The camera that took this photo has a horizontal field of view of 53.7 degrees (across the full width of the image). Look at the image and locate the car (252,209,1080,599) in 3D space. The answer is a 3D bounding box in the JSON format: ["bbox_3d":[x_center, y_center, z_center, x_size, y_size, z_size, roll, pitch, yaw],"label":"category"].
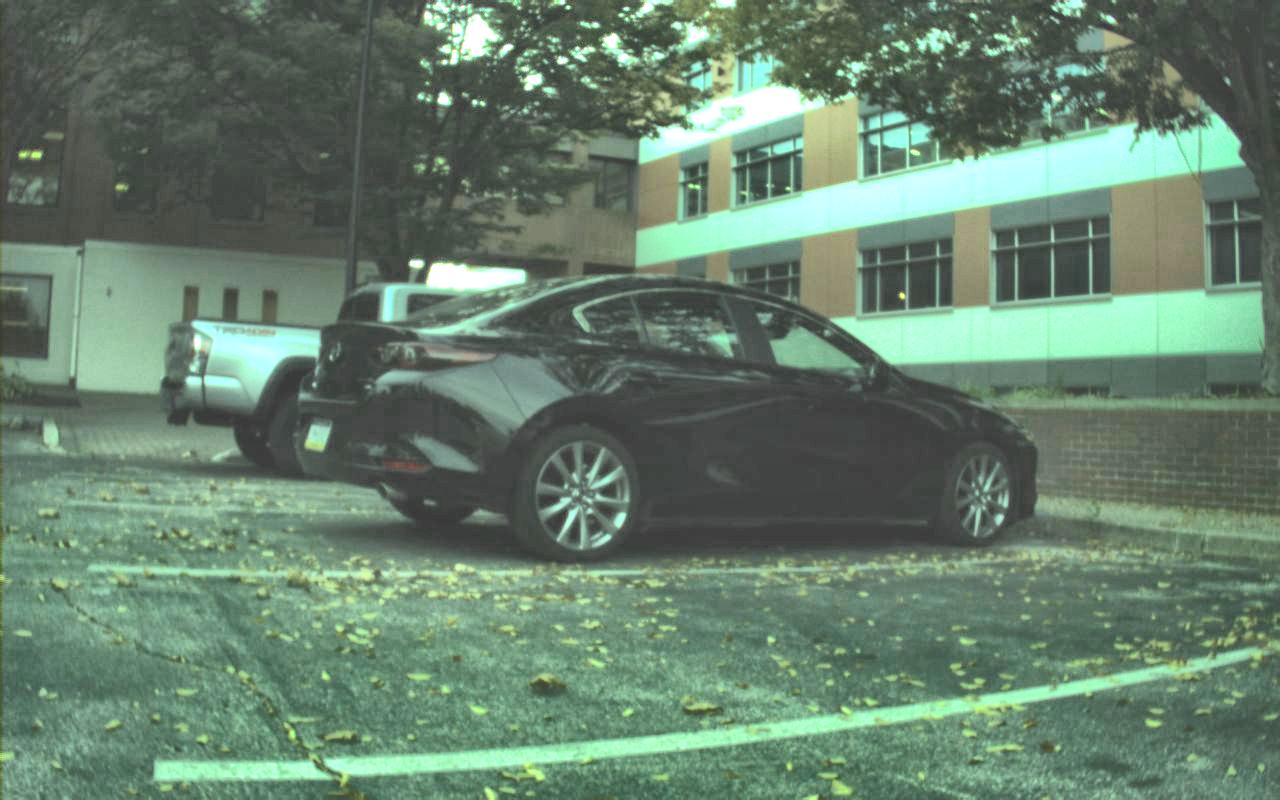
[{"bbox_3d":[0.321,-0.022,7.097,4.628,1.584,1.941,0,1,-34],"label":"car"}]

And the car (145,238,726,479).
[{"bbox_3d":[-1.982,-0.357,11.484,5.162,1.918,2.102,0,1,-27],"label":"car"}]
